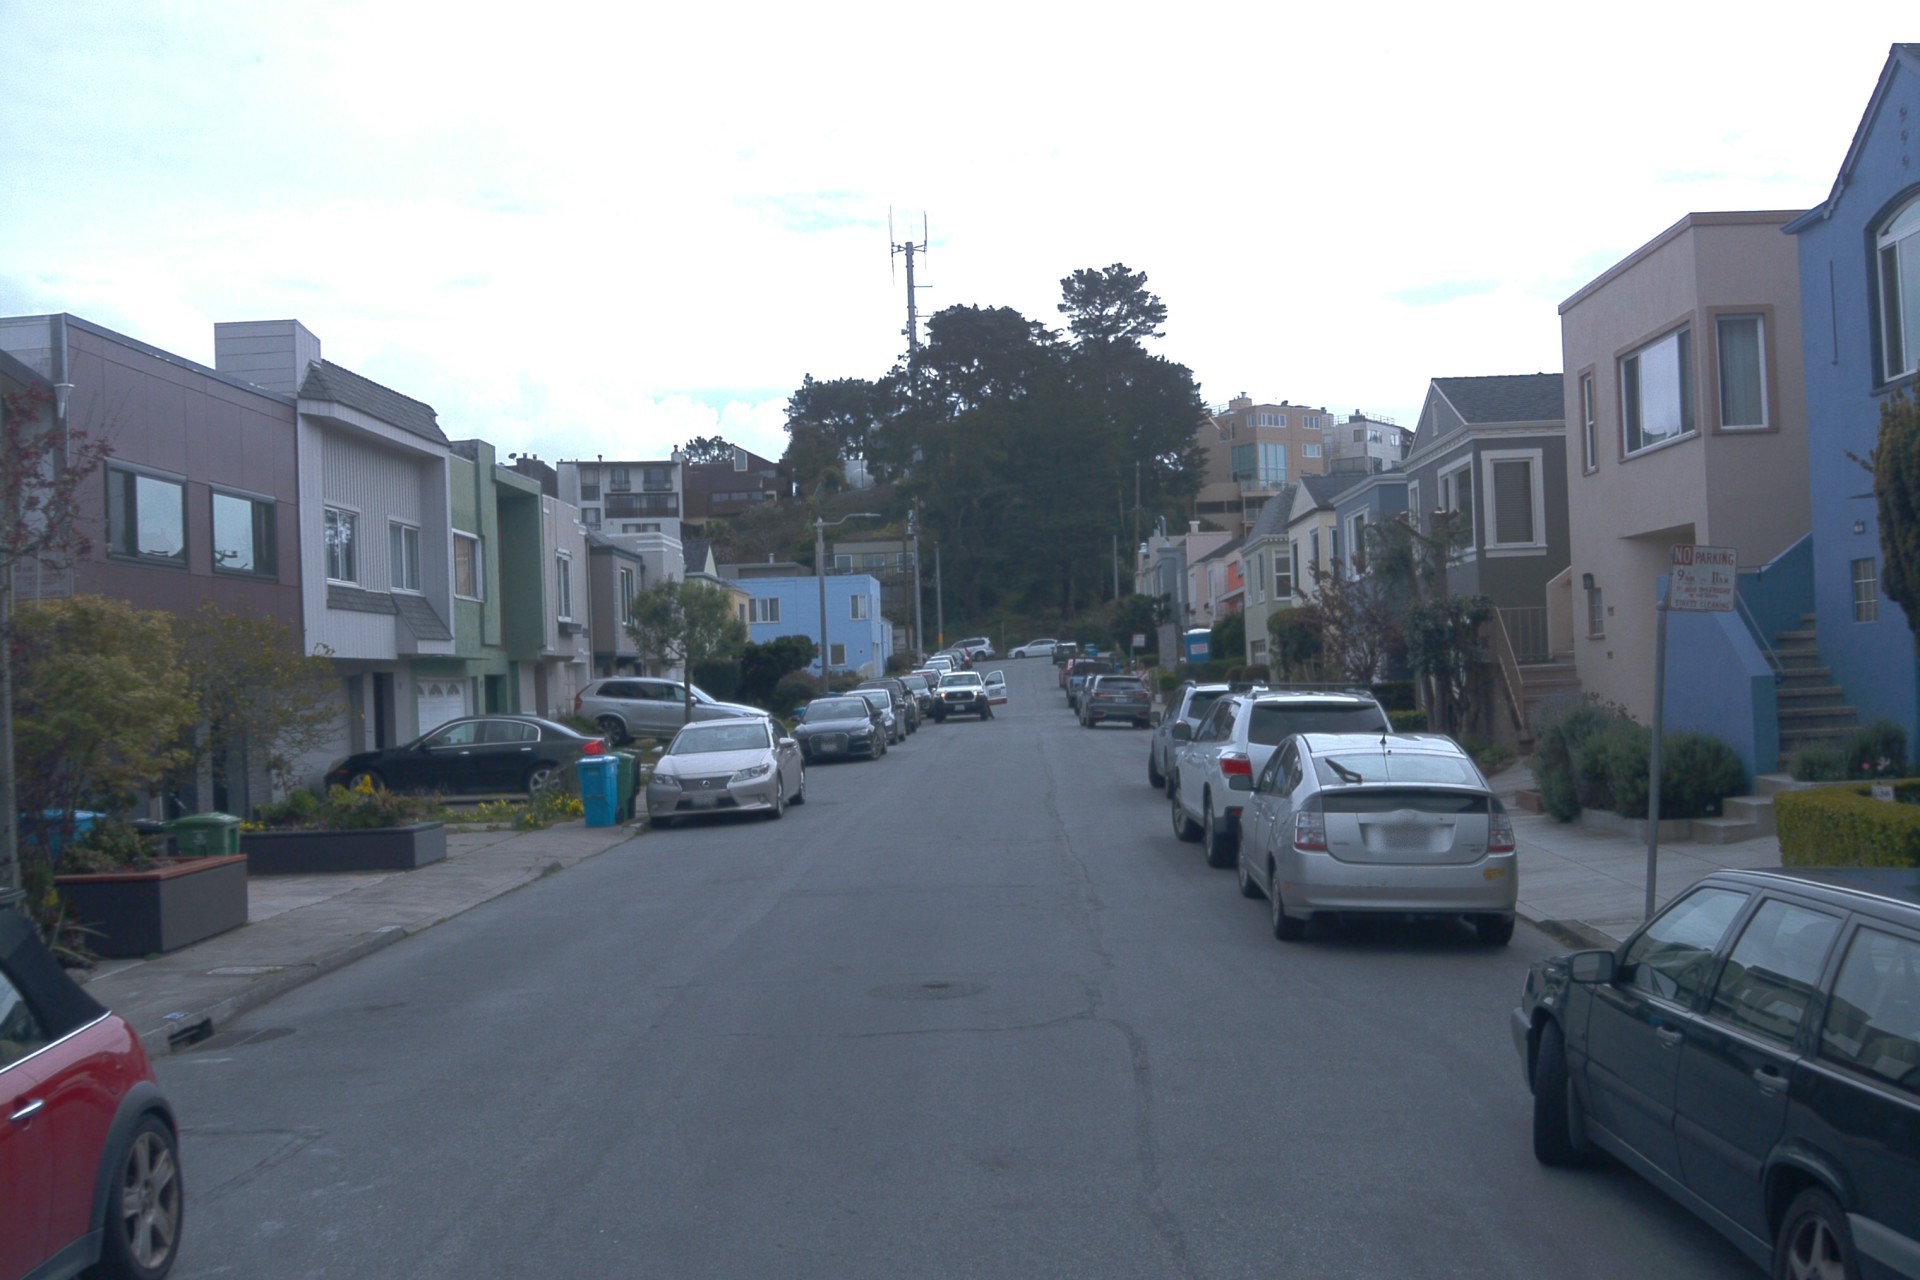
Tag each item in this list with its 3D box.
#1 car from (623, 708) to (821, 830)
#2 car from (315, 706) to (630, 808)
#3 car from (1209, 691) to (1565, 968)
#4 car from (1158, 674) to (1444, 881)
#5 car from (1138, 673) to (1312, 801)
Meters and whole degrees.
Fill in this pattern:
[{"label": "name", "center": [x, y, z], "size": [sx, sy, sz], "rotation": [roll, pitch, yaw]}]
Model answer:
[{"label": "car", "center": [-3.386, 1.821, 30.496], "size": [2.130, 1.510, 5.019], "rotation": [0, 0, 3]}, {"label": "car", "center": [-7.879, 1.883, 33.869], "size": [4.784, 1.560, 2.035], "rotation": [0, 0, -5]}, {"label": "car", "center": [3.183, 1.344, 16.438], "size": [2.087, 1.790, 4.606], "rotation": [0, 0, 3]}, {"label": "car", "center": [3.390, 1.308, 21.648], "size": [2.207, 1.850, 5.027], "rotation": [0, 0, 1]}, {"label": "car", "center": [3.899, 1.391, 31.227], "size": [2.102, 1.730, 4.779], "rotation": [0, 0, 1]}]
